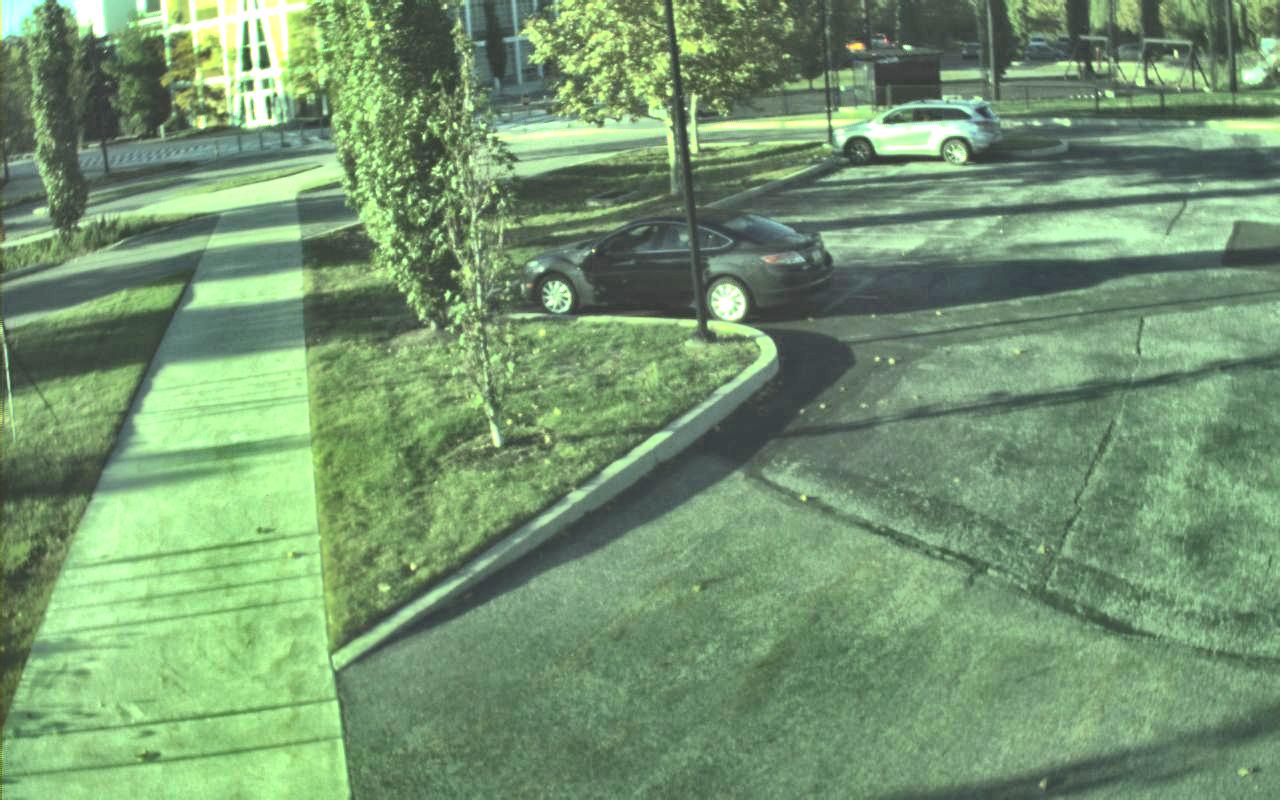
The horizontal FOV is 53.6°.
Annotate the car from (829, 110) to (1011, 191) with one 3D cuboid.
[{"bbox_3d":[7.859,-7.005,34.207,4.783,1.916,2.077,7,17,27],"label":"car"}]

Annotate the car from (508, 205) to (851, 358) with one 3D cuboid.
[{"bbox_3d":[0.563,-1.831,18.344,4.603,1.587,1.976,7,17,28],"label":"car"}]
